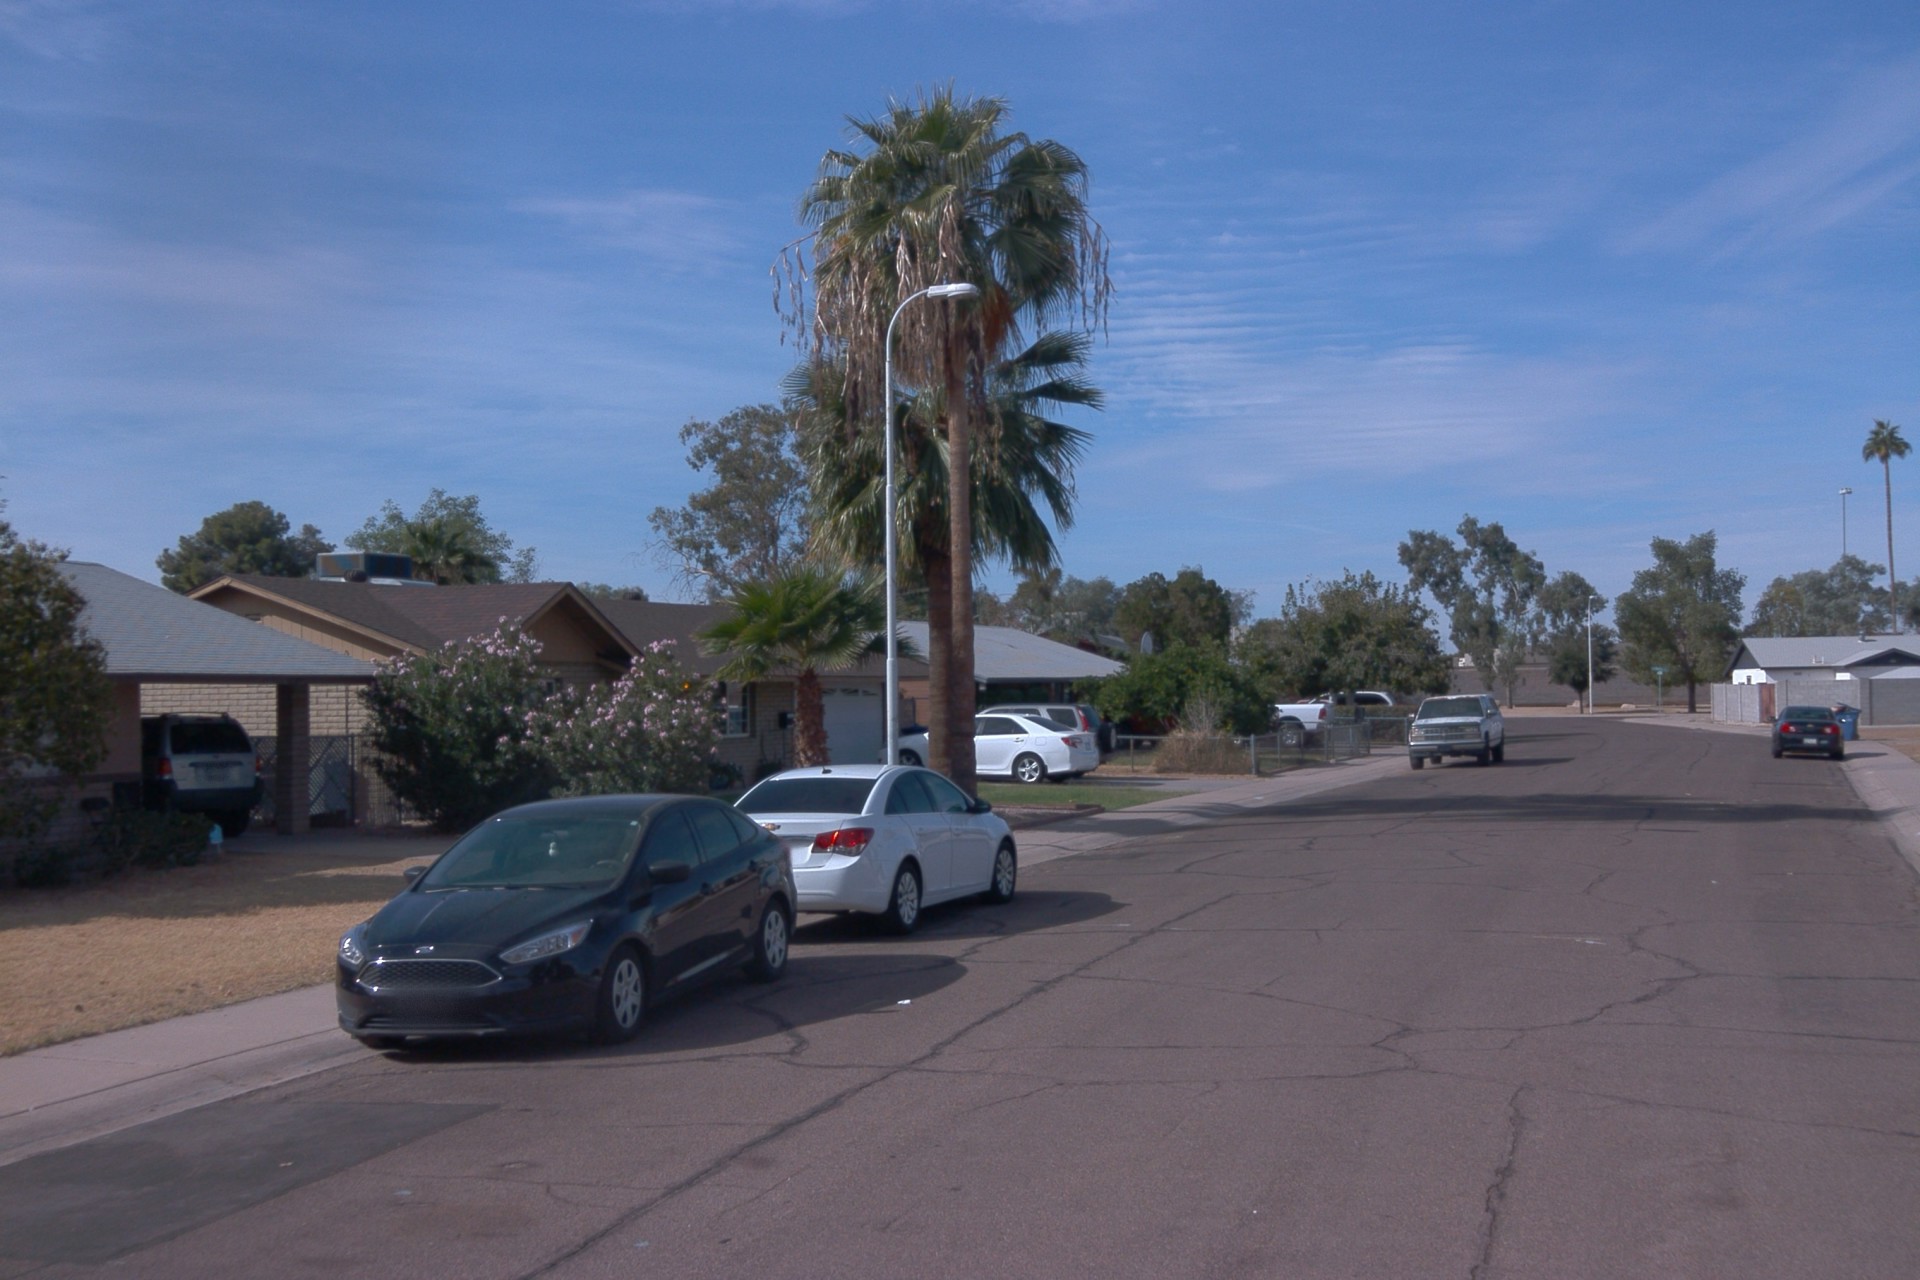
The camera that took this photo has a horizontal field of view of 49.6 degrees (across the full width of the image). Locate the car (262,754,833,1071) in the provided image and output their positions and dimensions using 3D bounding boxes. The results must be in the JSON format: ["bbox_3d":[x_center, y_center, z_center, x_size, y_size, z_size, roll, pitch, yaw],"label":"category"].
[{"bbox_3d":[-2.566,1.680,14.249,2.059,1.610,4.514,0,-1,15],"label":"car"}]

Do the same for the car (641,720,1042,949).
[{"bbox_3d":[-0.940,1.690,19.568,2.083,1.770,4.623,0,-1,21],"label":"car"}]
